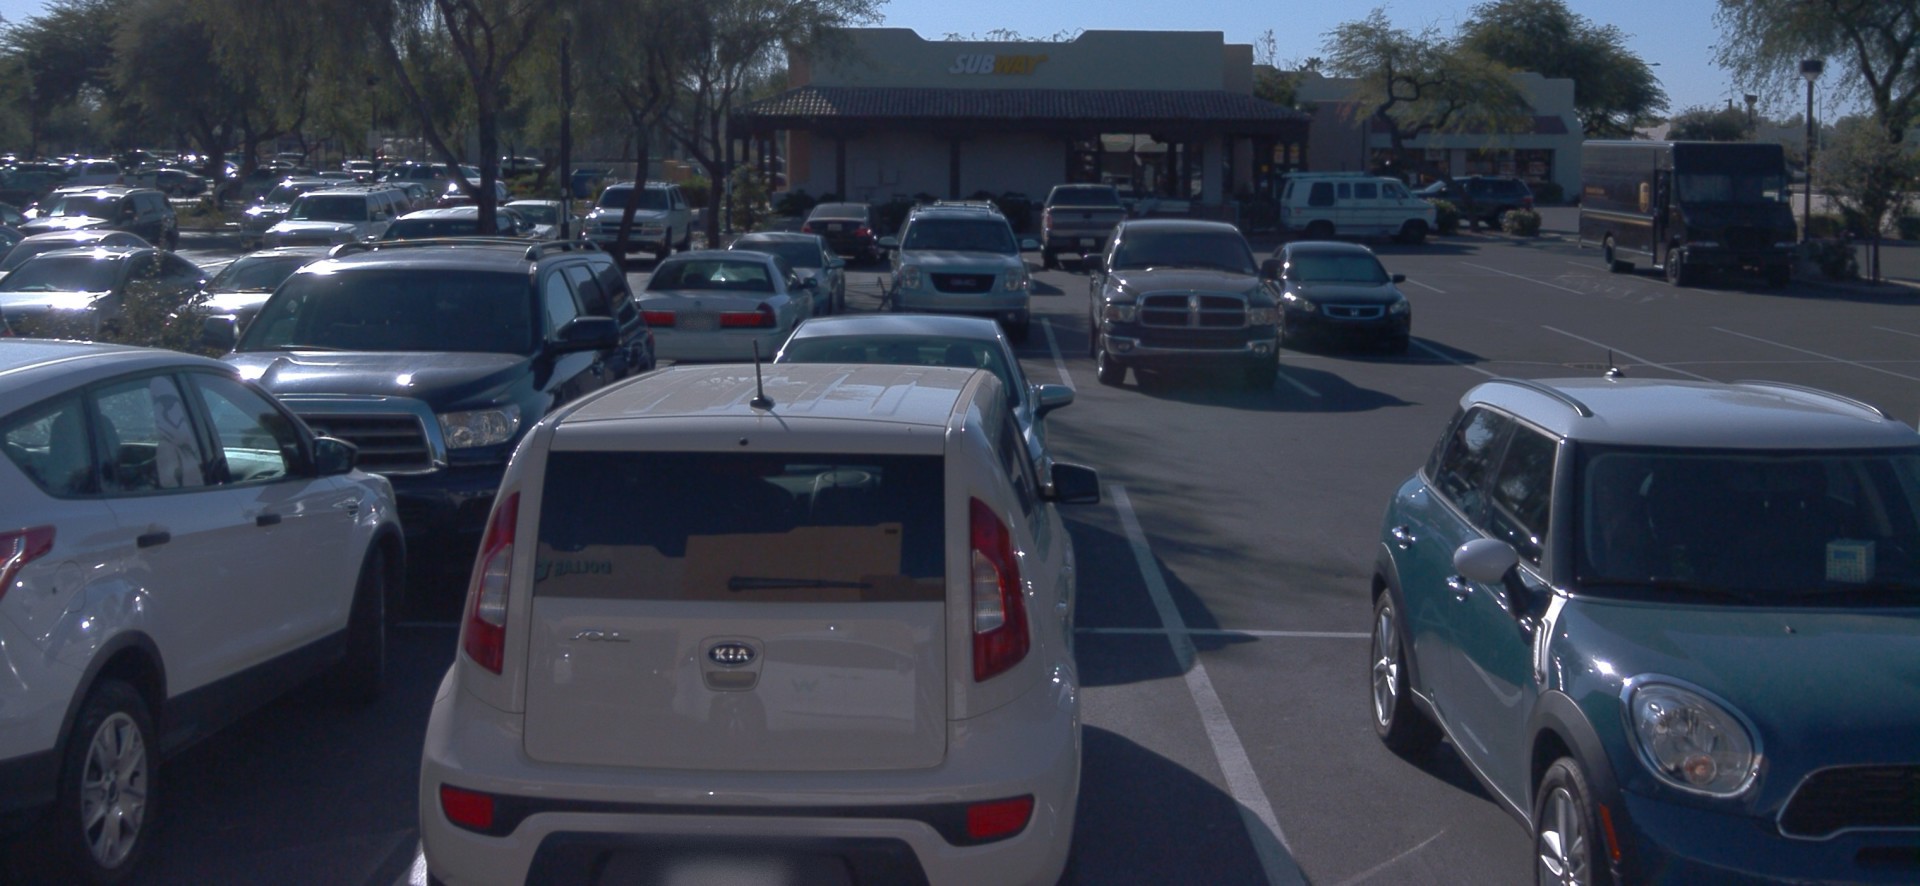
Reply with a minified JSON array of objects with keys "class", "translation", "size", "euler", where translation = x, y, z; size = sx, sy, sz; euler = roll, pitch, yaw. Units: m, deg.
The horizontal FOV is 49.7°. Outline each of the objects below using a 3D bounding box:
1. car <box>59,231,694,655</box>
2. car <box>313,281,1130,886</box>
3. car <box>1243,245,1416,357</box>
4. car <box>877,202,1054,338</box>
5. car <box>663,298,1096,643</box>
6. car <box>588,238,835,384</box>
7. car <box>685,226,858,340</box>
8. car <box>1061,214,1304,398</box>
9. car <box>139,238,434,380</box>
[{"class":"car","translation":[-3.227,-0.258,12.868],"size":[2.496,2.061,5.138],"euler":[1,5,0]},{"class":"car","translation":[-0.525,0.429,7.158],"size":[2.026,1.832,4.006],"euler":[1,5,2]},{"class":"car","translation":[5.491,-2.199,31.344],"size":[1.976,1.493,4.499],"euler":[1,6,2]},{"class":"car","translation":[-0.006,-2.724,31.971],"size":[2.481,1.891,5.237],"euler":[0,5,-2]},{"class":"car","translation":[-0.426,-0.022,12.823],"size":[2.169,1.543,4.762],"euler":[1,6,-1]},{"class":"car","translation":[-2.950,-1.736,25.879],"size":[2.256,1.562,5.128],"euler":[1,6,2]},{"class":"car","translation":[-2.759,-2.484,31.414],"size":[2.127,1.553,4.508],"euler":[1,6,1]},{"class":"car","translation":[2.636,-1.843,26.137],"size":[2.523,2.021,5.785],"euler":[1,6,1]},{"class":"car","translation":[-8.179,-1.734,25.683],"size":[2.082,1.543,4.566],"euler":[1,6,1]}]
